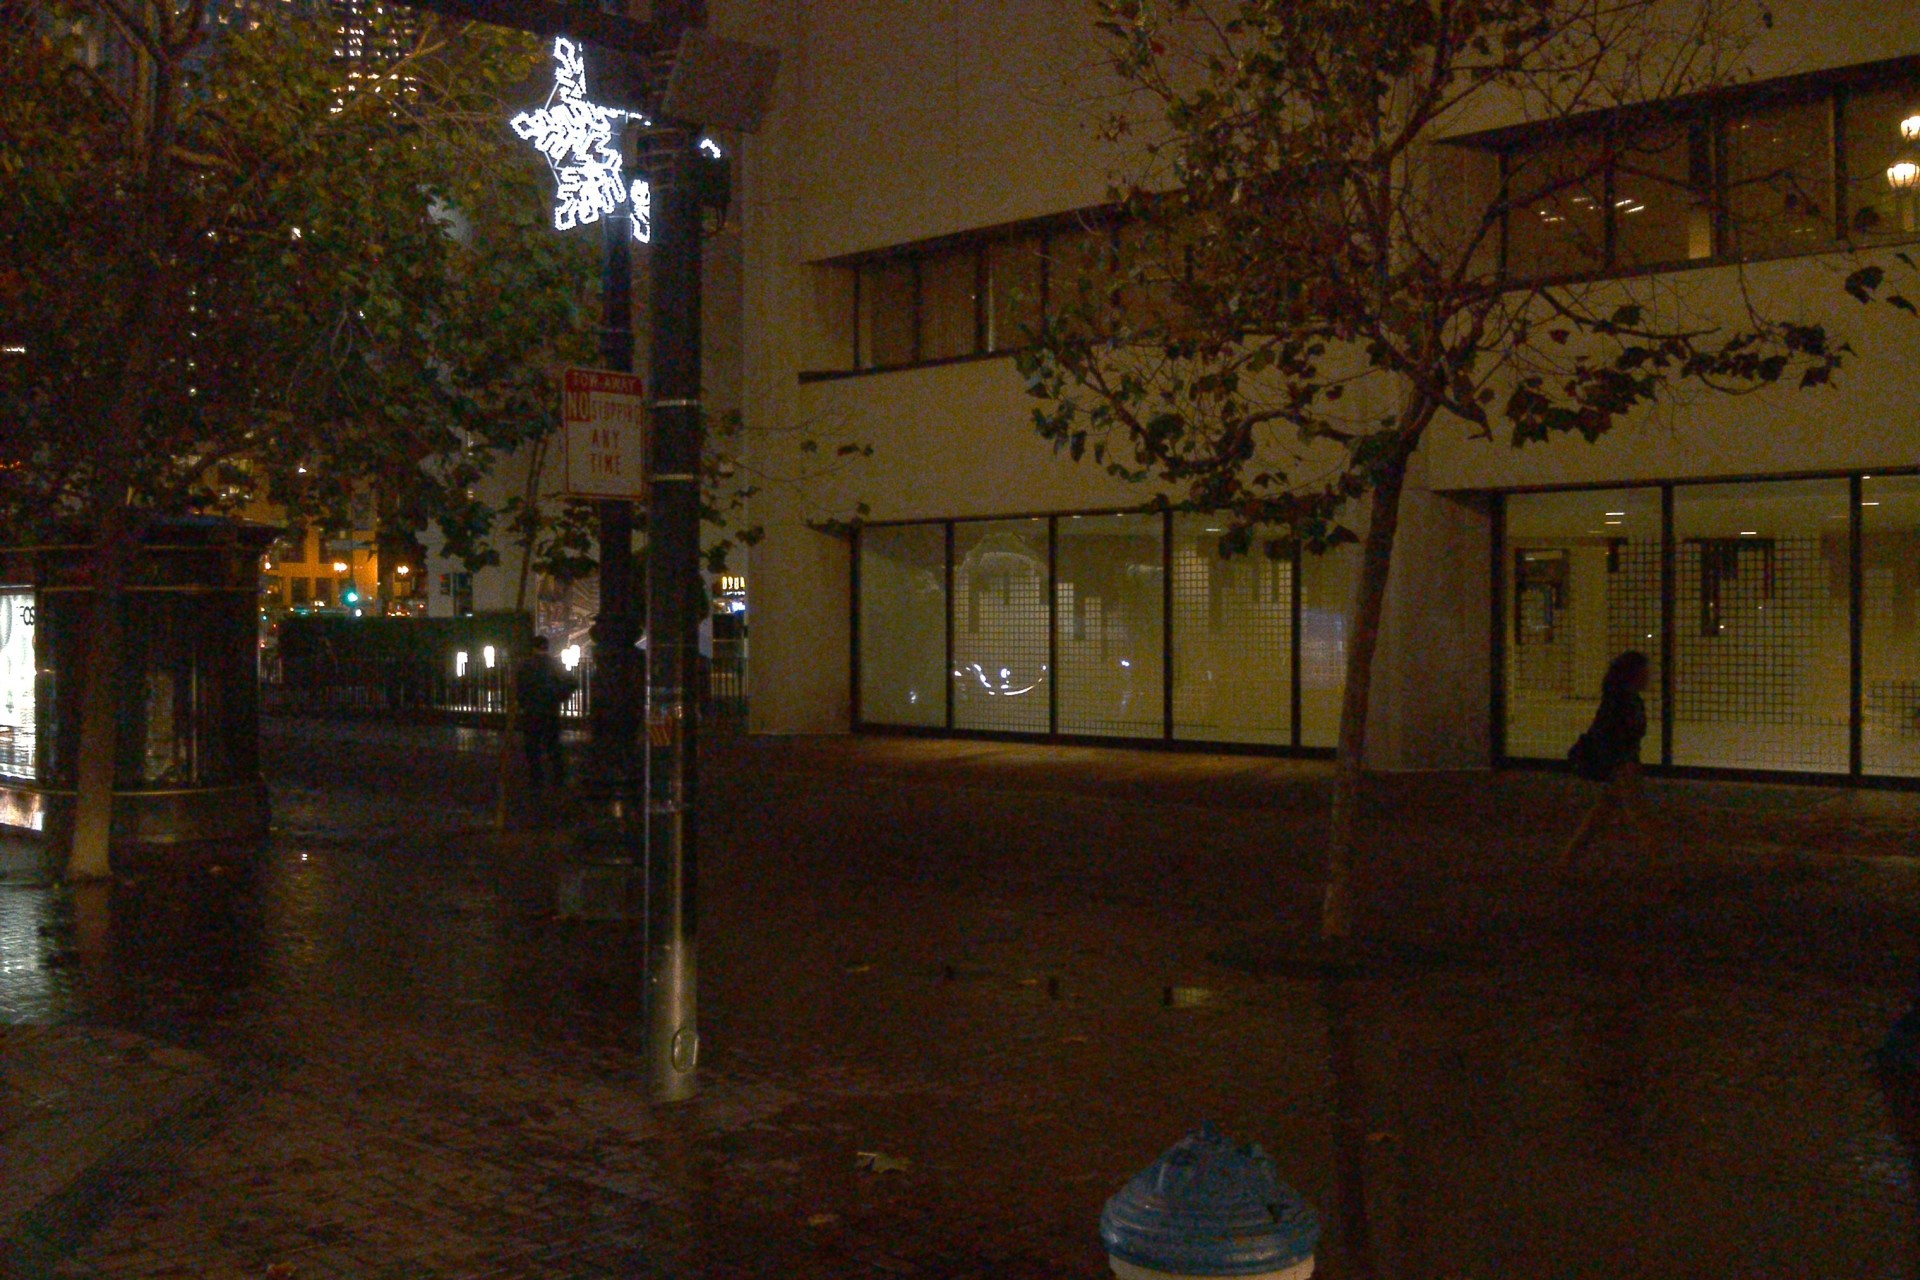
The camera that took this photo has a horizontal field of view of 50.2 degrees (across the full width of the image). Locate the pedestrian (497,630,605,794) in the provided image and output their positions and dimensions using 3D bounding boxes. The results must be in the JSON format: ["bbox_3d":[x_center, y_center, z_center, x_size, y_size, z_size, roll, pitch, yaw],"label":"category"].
[{"bbox_3d":[-4.582,0.782,22.936,0.860,1.780,1.103,1,0,-30],"label":"pedestrian"}]

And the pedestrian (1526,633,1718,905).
[{"bbox_3d":[4.542,0.849,14.067,1.050,1.780,0.729,0,0,39],"label":"pedestrian"}]
